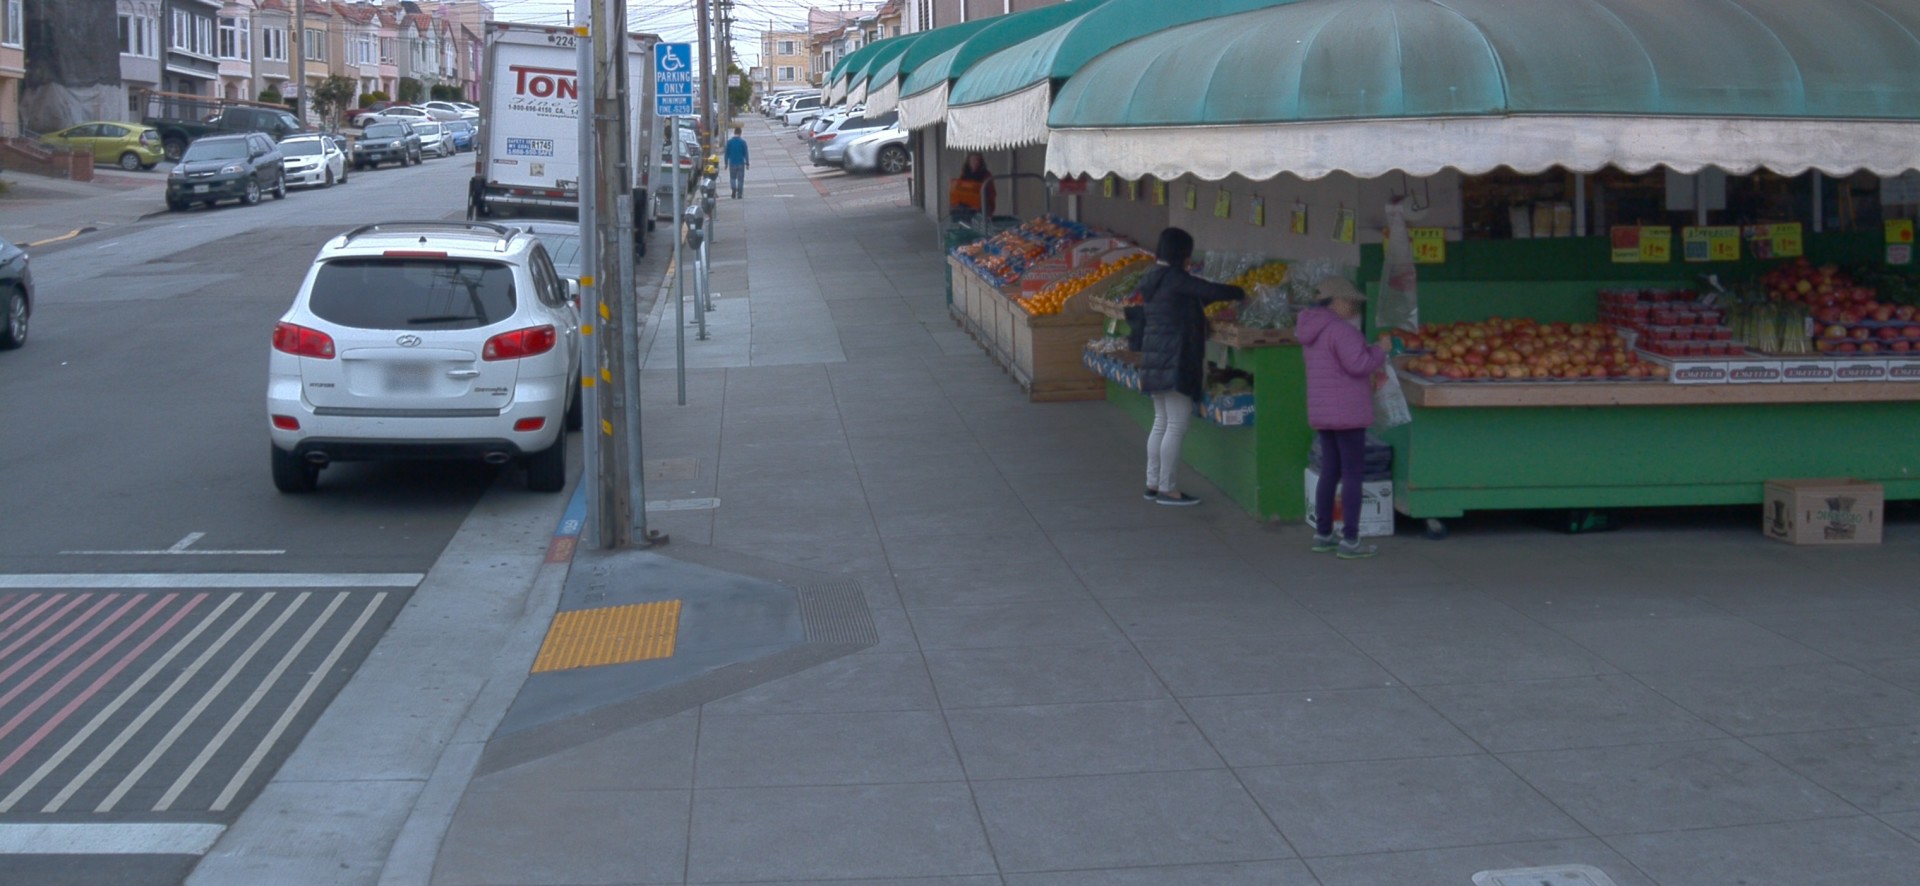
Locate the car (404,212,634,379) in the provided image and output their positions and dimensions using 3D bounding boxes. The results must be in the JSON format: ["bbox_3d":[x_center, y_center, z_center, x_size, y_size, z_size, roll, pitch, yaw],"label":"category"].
[{"bbox_3d":[-4.378,-1.592,21.059,1.969,1.513,4.609,-1,6,-8],"label":"car"}]

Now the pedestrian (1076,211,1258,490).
[{"bbox_3d":[1.236,-0.589,12.383,0.796,1.607,0.823,-1,2,-22],"label":"pedestrian"}]

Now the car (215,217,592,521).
[{"bbox_3d":[-3.783,-0.700,14.811,2.105,1.832,4.565,-1,5,-8],"label":"car"}]

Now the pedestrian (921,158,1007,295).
[{"bbox_3d":[0.053,-2.827,26.869,0.722,1.737,0.889,1,3,39],"label":"pedestrian"}]

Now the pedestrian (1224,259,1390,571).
[{"bbox_3d":[1.811,-0.176,10.825,0.704,1.564,0.799,0,2,-2],"label":"pedestrian"}]

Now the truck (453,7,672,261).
[{"bbox_3d":[-6.648,-5.159,35.854,2.914,3.771,10.115,0,5,-6],"label":"truck"}]
